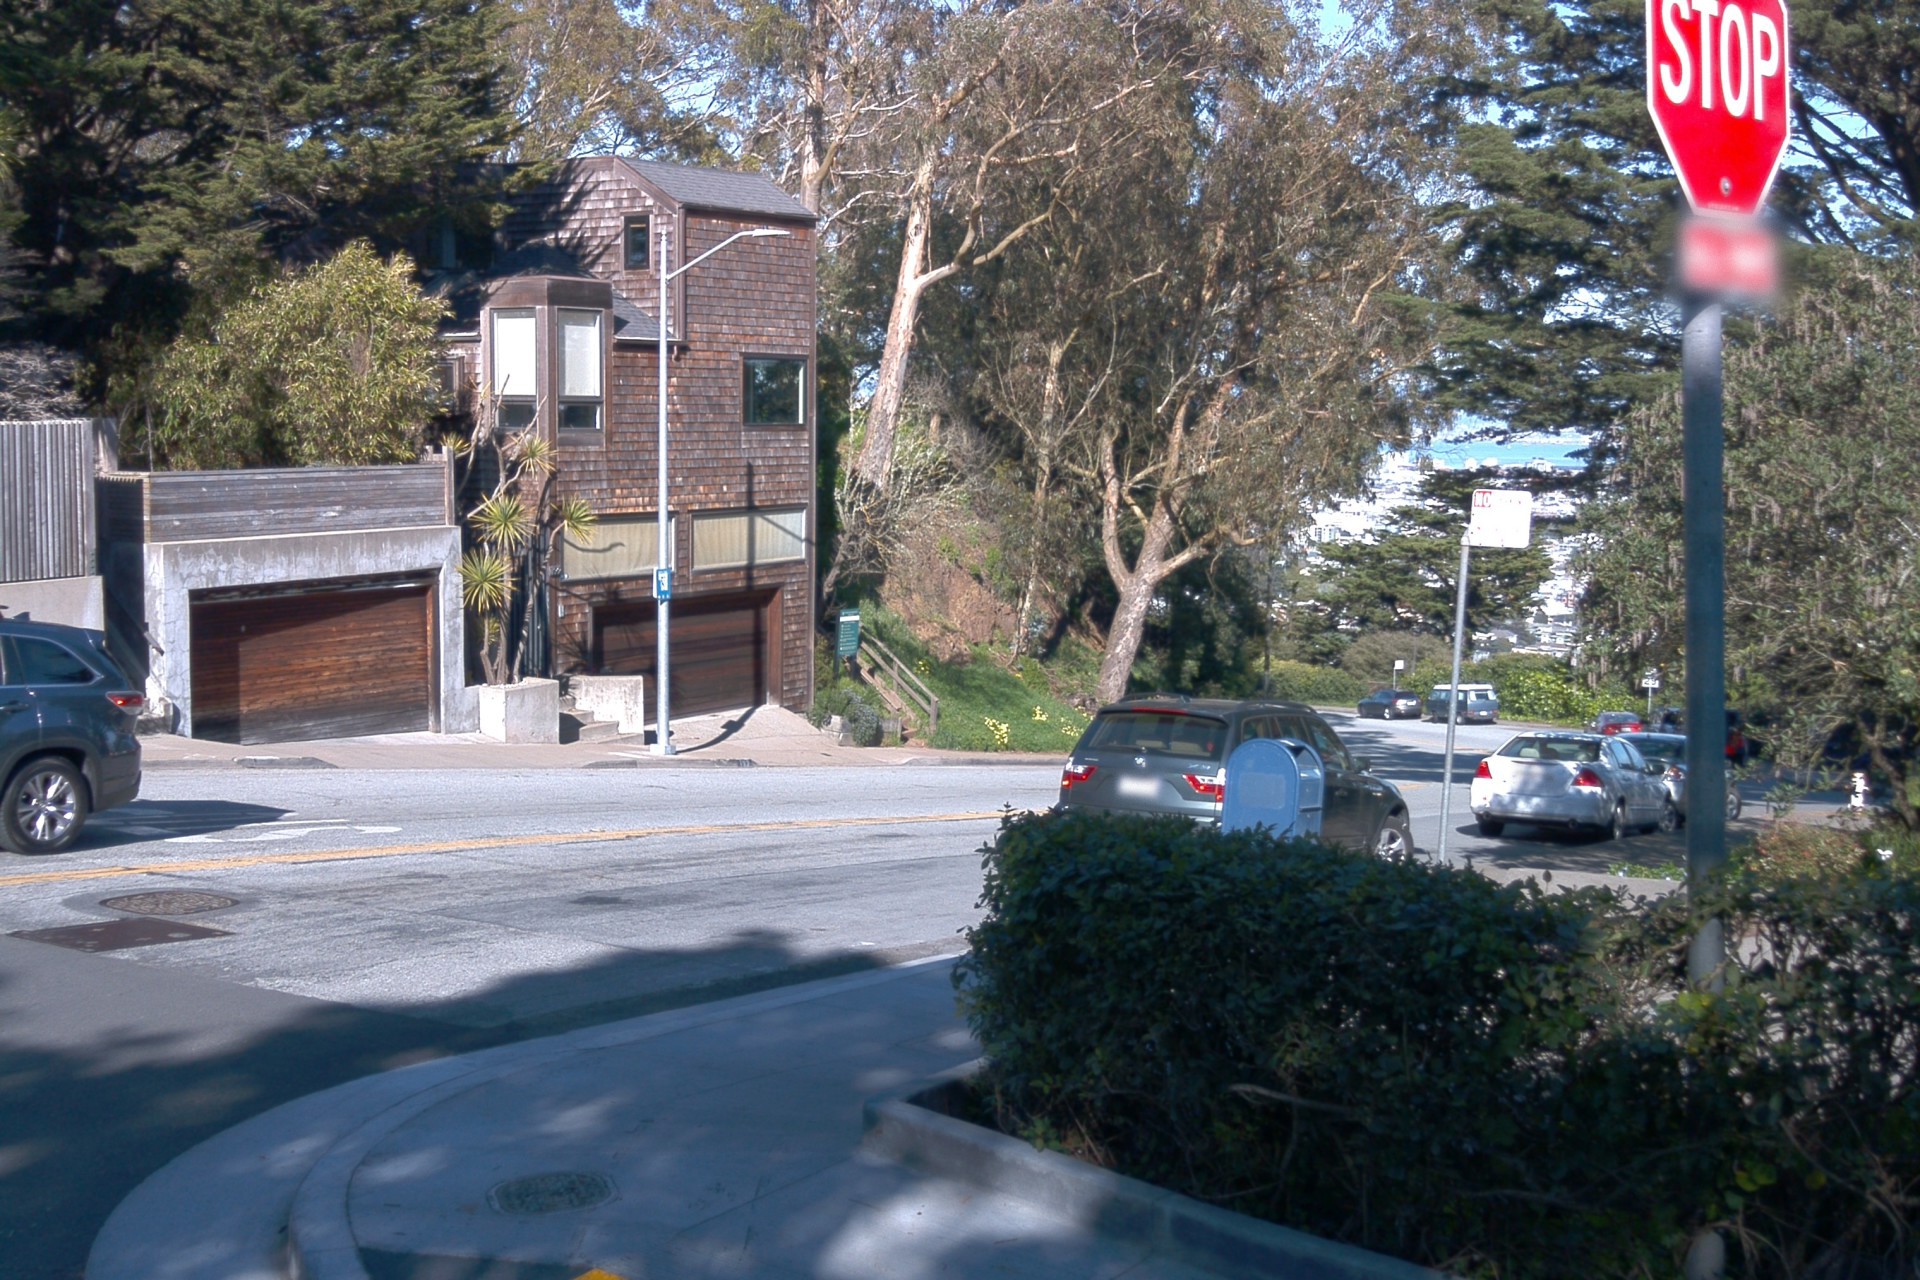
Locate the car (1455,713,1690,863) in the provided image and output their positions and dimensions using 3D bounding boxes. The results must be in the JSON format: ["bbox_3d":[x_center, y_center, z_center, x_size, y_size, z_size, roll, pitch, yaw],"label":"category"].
[{"bbox_3d":[8.349,1.914,28.315,1.893,1.720,4.338,1,0,32],"label":"car"}]

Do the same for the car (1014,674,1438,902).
[{"bbox_3d":[2.471,1.165,18.379,2.050,1.690,4.437,0,0,31],"label":"car"}]

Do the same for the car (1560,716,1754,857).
[{"bbox_3d":[11.236,2.266,33.585,2.061,1.950,4.542,1,0,30],"label":"car"}]
